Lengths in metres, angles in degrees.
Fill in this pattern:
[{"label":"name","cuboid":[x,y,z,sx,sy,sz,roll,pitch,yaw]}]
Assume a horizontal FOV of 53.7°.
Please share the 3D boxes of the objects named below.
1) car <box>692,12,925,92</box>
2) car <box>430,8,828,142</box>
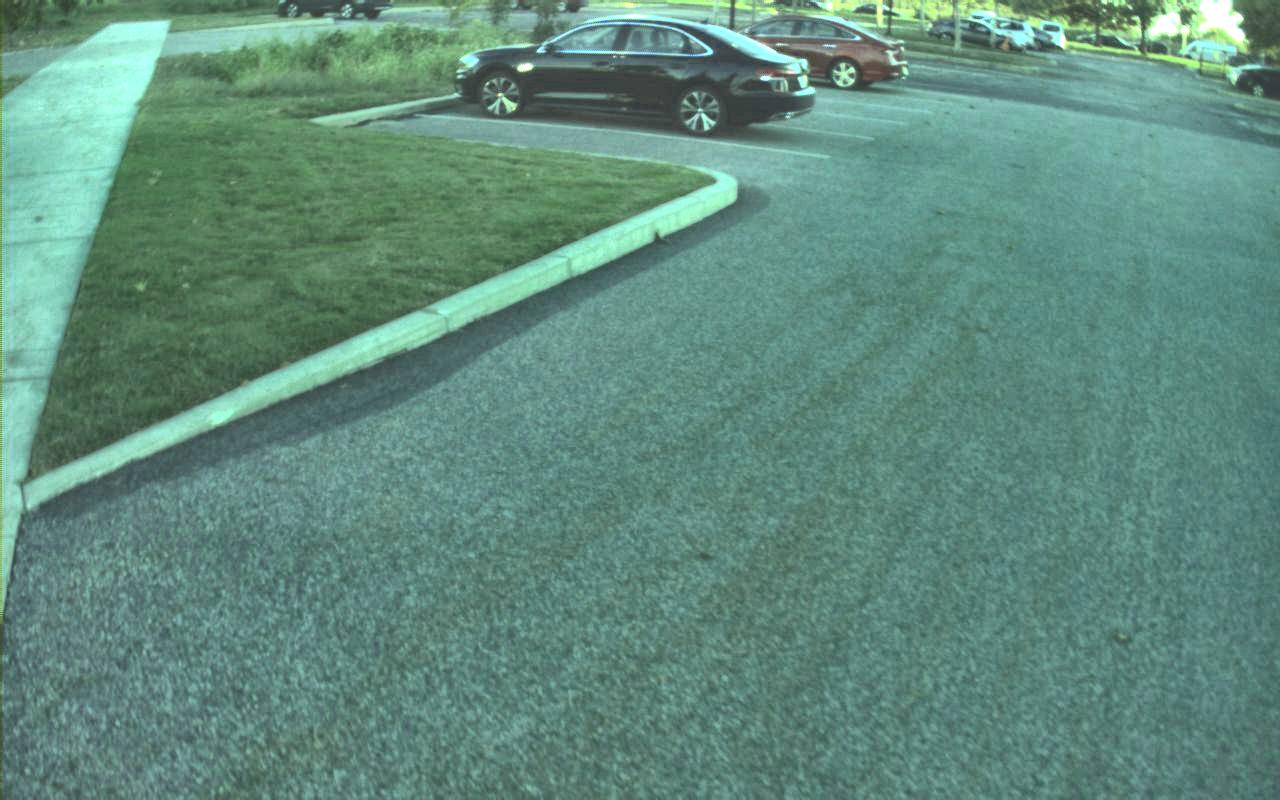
[{"label":"car","cuboid":[3.532,-7.235,25.342,4.523,1.581,1.964,5,17,21]},{"label":"car","cuboid":[-0.133,-4.267,16.147,4.833,1.593,2.031,5,17,20]}]
